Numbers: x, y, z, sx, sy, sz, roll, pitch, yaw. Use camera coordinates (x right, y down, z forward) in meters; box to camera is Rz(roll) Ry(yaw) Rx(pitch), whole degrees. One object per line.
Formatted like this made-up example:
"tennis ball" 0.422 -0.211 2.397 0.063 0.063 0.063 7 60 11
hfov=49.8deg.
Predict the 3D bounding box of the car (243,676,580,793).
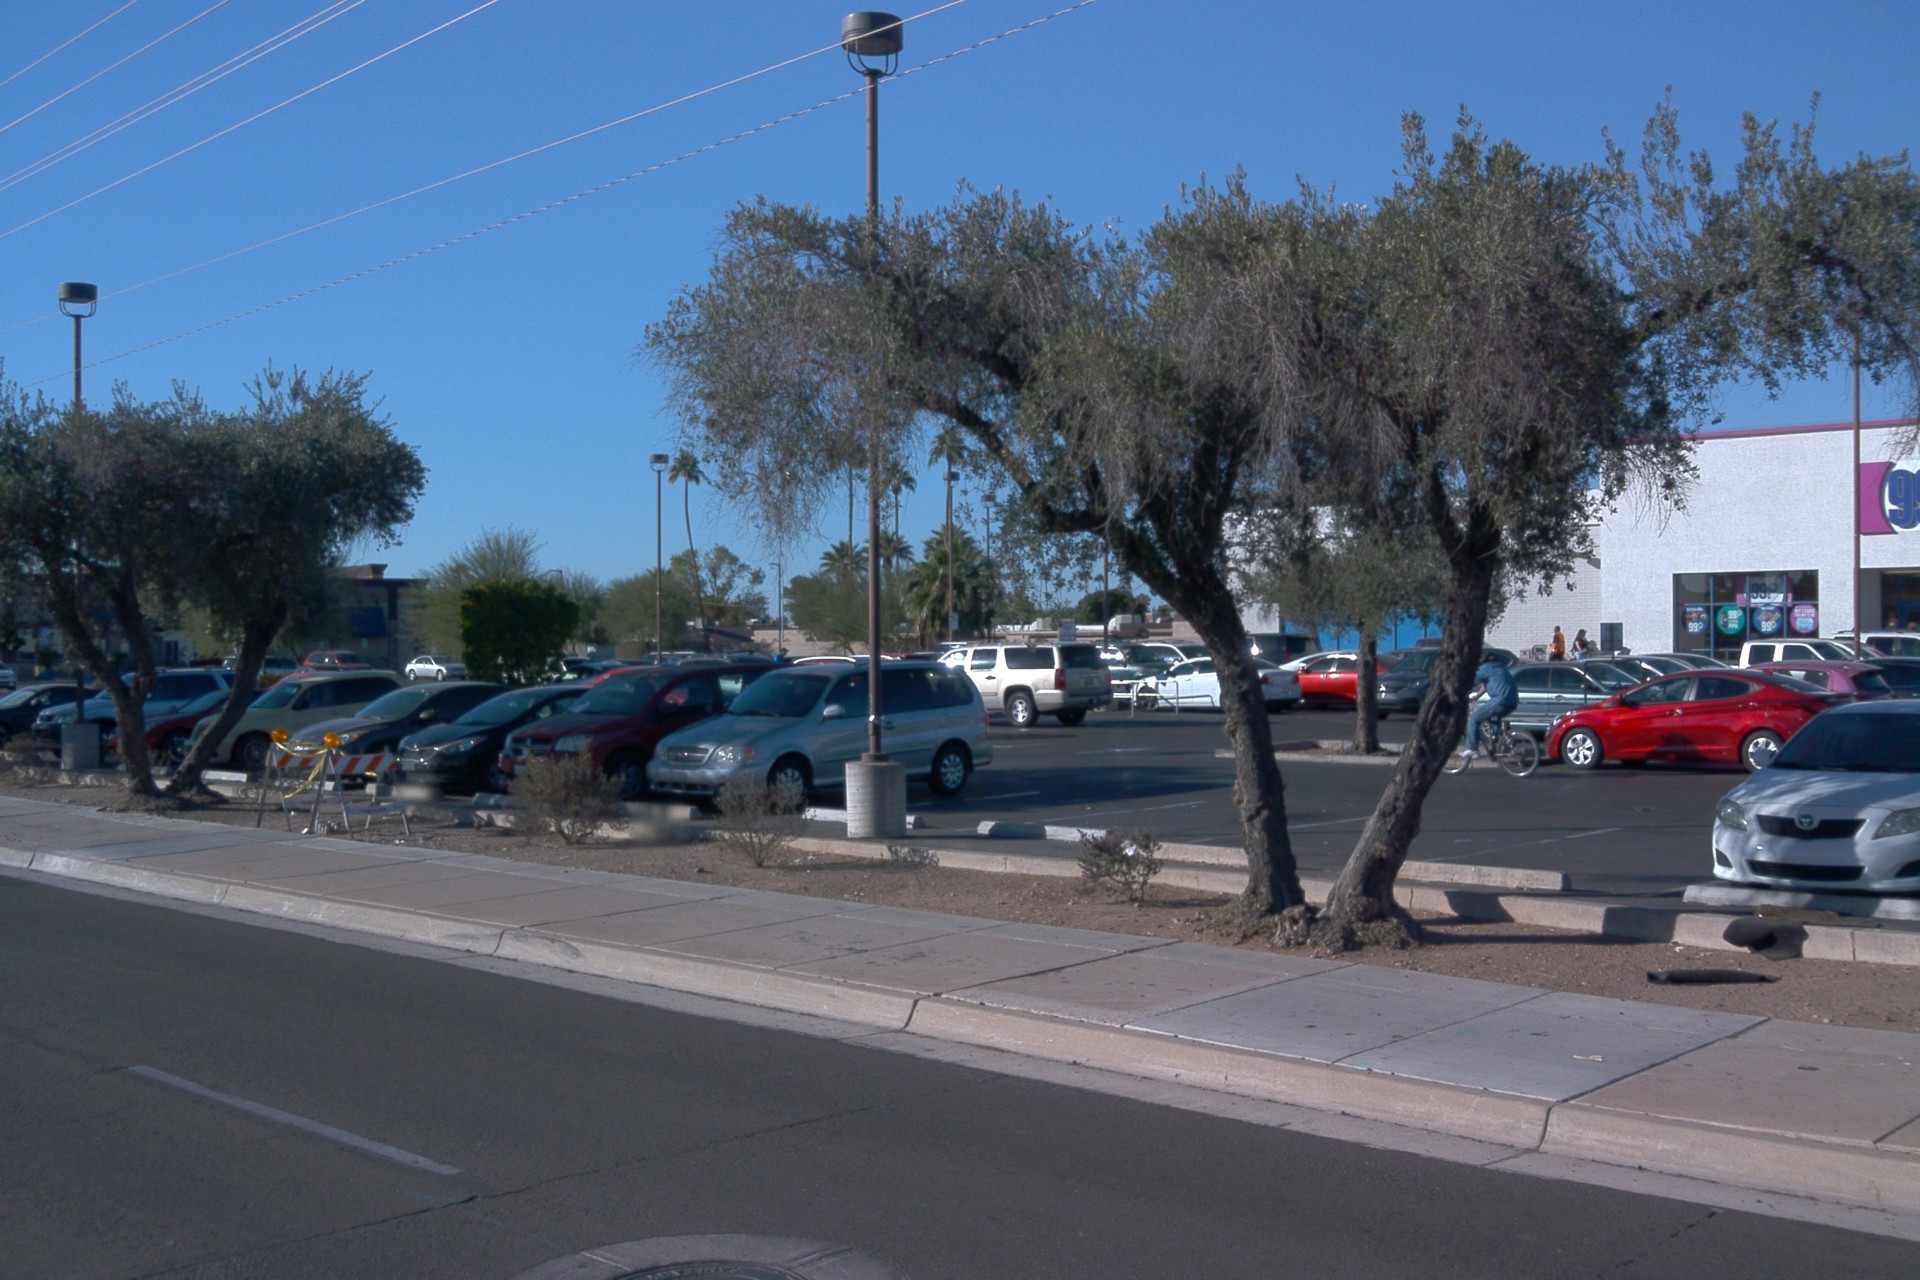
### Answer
"car" -8.175 1.366 31.134 2.001 1.590 4.526 -1 -1 43

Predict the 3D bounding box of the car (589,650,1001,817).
"car" -1.971 1.087 26.093 2.296 1.890 4.980 -1 -1 41

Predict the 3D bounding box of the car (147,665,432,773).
"car" -11.497 1.311 35.601 4.233 1.720 1.943 0 -1 -39

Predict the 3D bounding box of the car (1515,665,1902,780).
"car" 10.342 1.099 28.810 4.638 1.460 2.010 -1 -1 44

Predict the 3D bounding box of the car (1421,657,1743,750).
"car" 10.850 1.079 36.369 2.126 1.510 5.011 0 -1 -44

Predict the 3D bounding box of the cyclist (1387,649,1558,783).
"cyclist" 6.995 1.015 28.285 0.986 1.760 2.036 0 -1 -44

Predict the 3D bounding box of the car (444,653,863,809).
"car" -4.008 1.133 27.880 2.316 1.890 5.318 -1 -1 42

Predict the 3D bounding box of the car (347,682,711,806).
"car" -6.086 1.415 29.649 2.117 1.580 4.775 -1 -1 42
